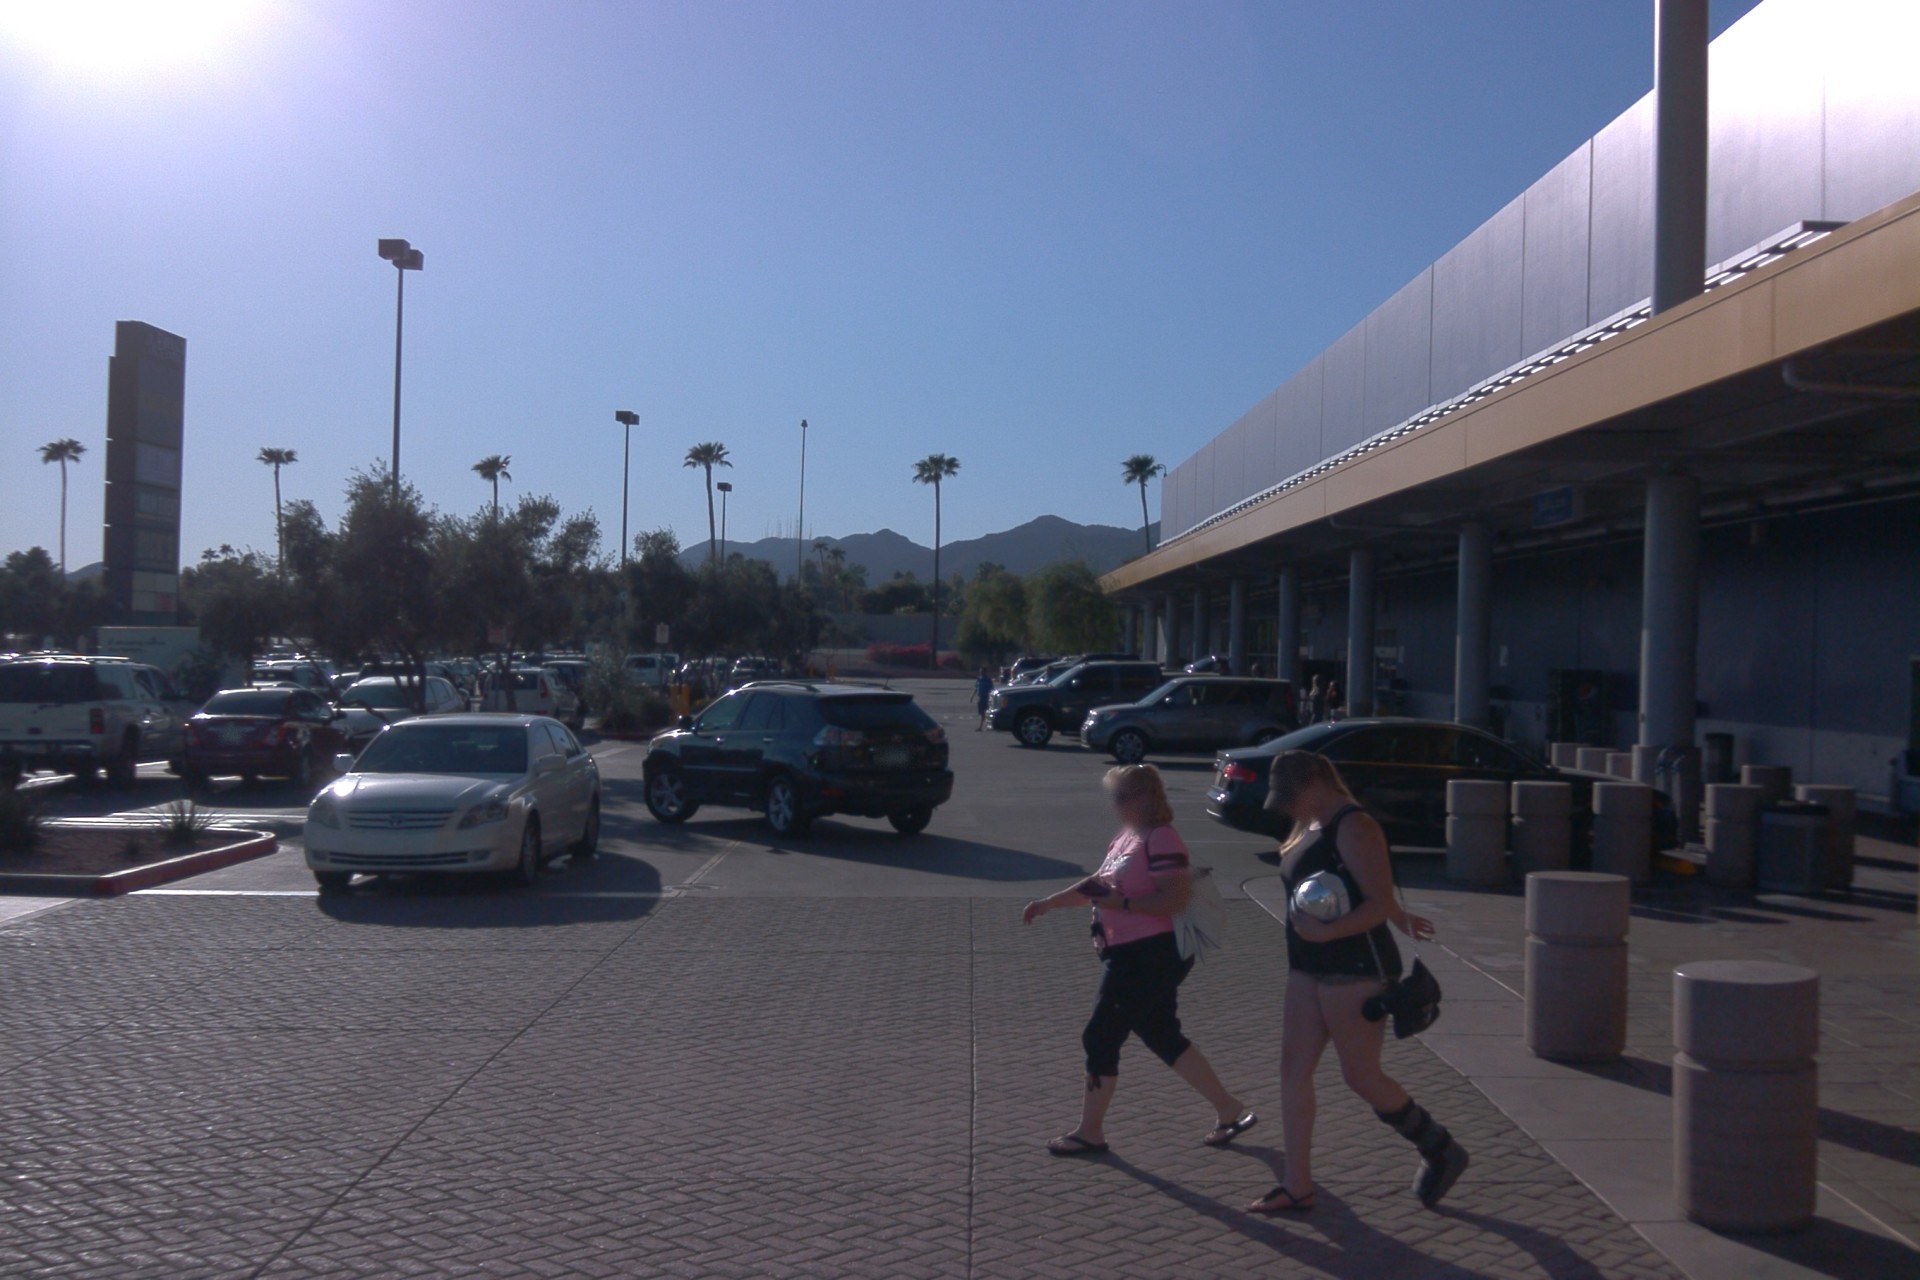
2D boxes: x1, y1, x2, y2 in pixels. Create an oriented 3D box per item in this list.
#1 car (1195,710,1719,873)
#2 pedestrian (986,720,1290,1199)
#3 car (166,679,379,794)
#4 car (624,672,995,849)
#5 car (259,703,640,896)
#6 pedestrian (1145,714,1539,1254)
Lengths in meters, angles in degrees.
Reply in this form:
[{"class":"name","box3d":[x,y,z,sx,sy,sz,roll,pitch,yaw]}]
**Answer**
[{"class":"car","box3d":[4.897,1.495,21.068,4.792,1.460,2.078,1,0,0]},{"class":"pedestrian","box3d":[0.706,1.255,8.586,1.000,1.810,1.000,1,0,-10]},{"class":"car","box3d":[-10.428,1.424,31.892,1.866,1.580,4.286,1,0,0]},{"class":"car","box3d":[-1.843,1.284,23.939,2.198,1.770,4.578,1,-1,-35]},{"class":"car","box3d":[-4.523,1.364,19.354,2.148,1.440,4.950,1,-1,2]},{"class":"pedestrian","box3d":[1.389,1.209,7.744,1.137,1.830,0.949,1,0,-12]}]
